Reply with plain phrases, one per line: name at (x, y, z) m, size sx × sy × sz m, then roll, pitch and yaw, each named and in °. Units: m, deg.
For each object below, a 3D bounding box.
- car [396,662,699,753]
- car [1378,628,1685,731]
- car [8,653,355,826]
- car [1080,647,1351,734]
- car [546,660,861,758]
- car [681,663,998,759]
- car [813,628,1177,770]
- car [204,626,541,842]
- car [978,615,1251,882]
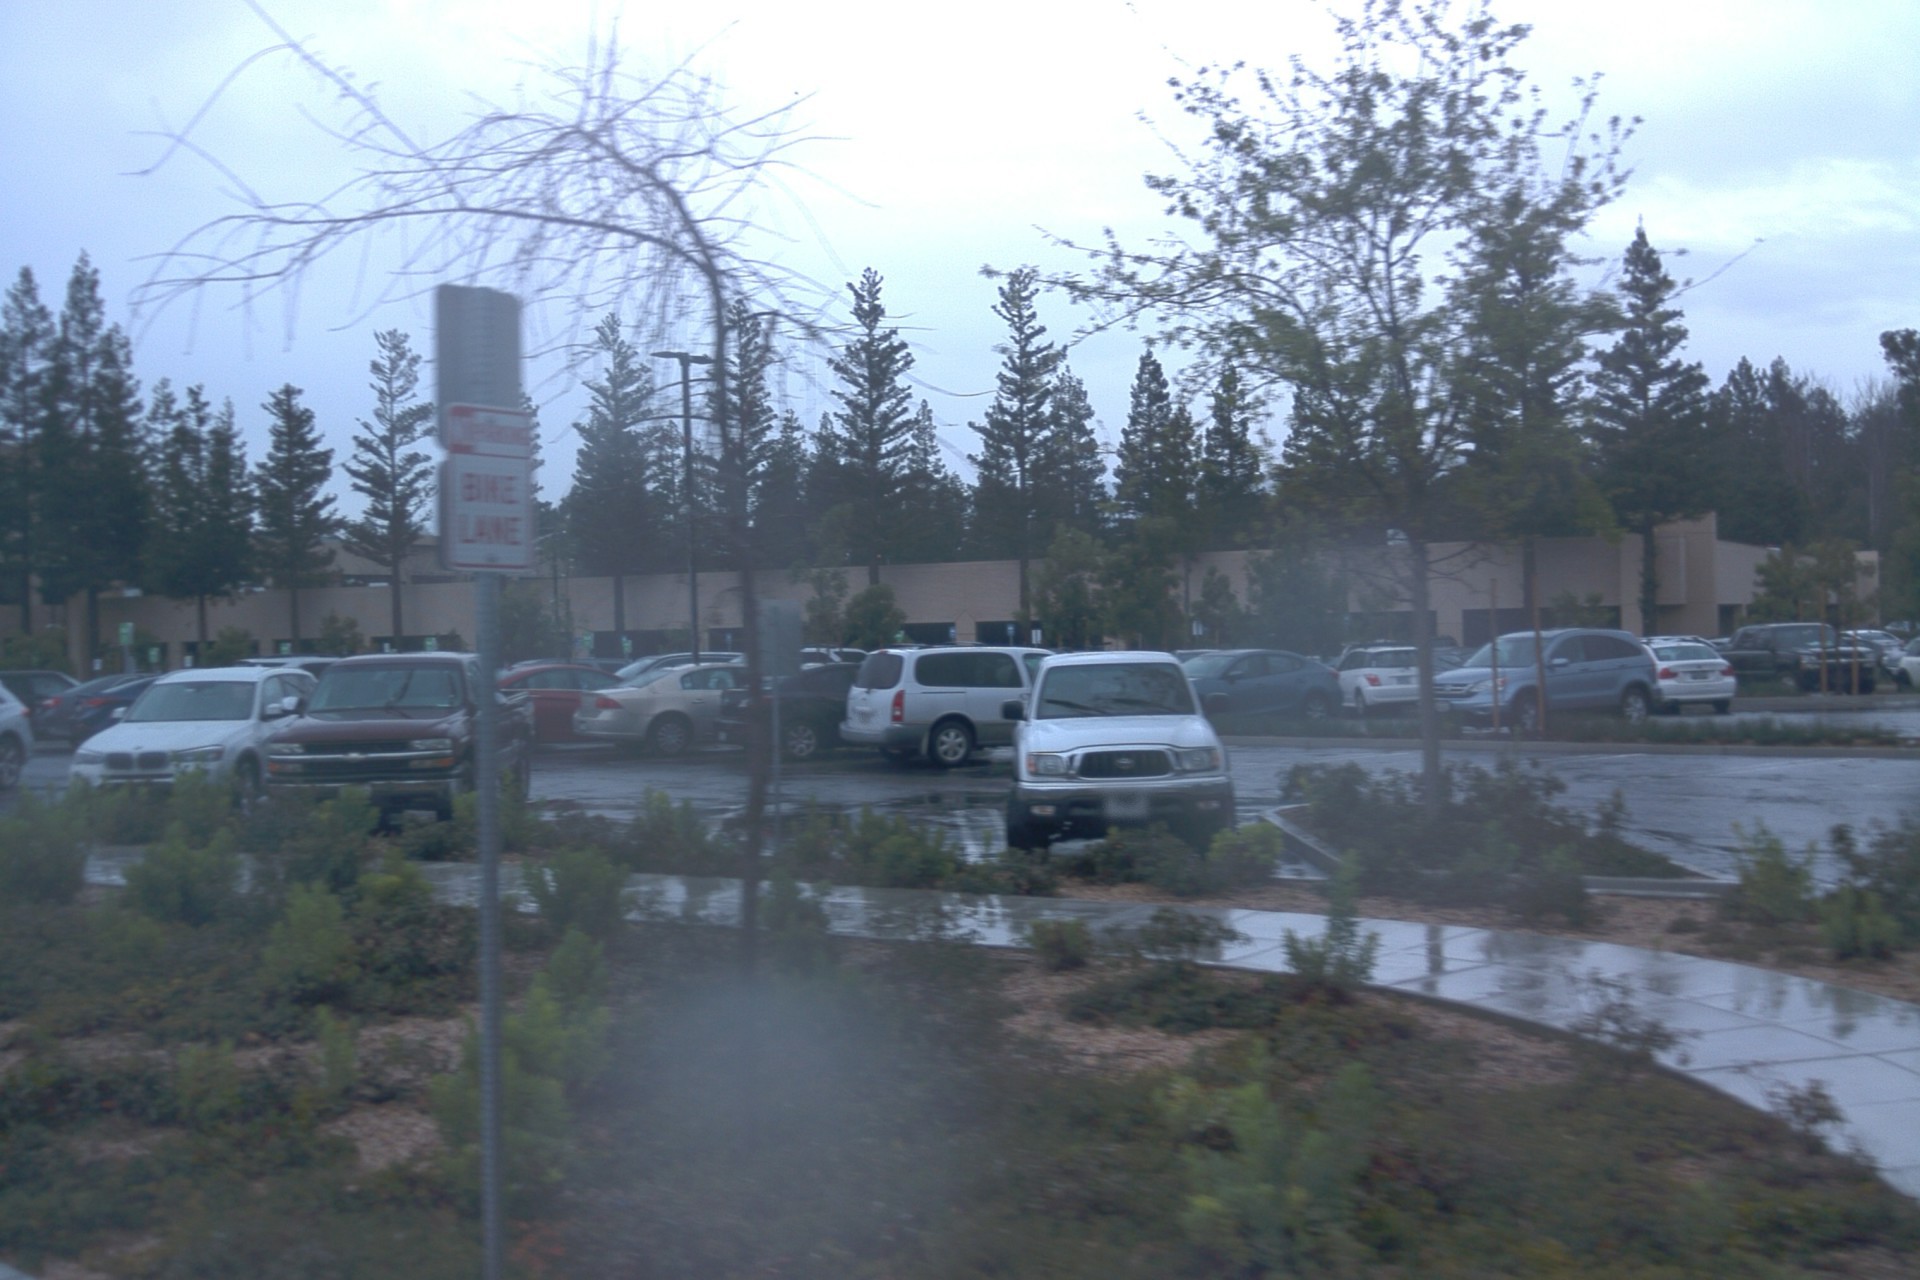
car at (-6.924, 1.093, 35.051) m, size 4.526 × 1.440 × 2.109 m, roll 1°, pitch -1°, yaw -35°
car at (9.070, 0.615, 32.868) m, size 4.683 × 1.510 × 2.184 m, roll 1°, pitch -1°, yaw -35°
car at (-8.884, 1.080, 24.223) m, size 2.172 × 1.810 × 4.643 m, roll 0°, pitch -1°, yaw 2°
car at (4.454, 0.858, 36.041) m, size 4.378 × 1.420 × 2.061 m, roll 1°, pitch -1°, yaw -34°
car at (-4.153, 1.079, 33.810) m, size 4.605 × 1.500 × 2.160 m, roll 1°, pitch -1°, yaw -31°
car at (-1.858, 1.063, 32.207) m, size 4.440 × 1.410 × 2.071 m, roll 1°, pitch -1°, yaw -29°
car at (0.527, 0.839, 30.476) m, size 4.883 × 1.950 × 2.170 m, roll 0°, pitch -1°, yaw -27°
car at (-6.221, 0.939, 22.866) m, size 2.414 × 2.070 × 5.815 m, roll 0°, pitch -1°, yaw -4°
car at (1.228, 0.867, 18.576) m, size 2.088 × 2.040 × 5.211 m, roll 0°, pitch -1°, yaw 1°
